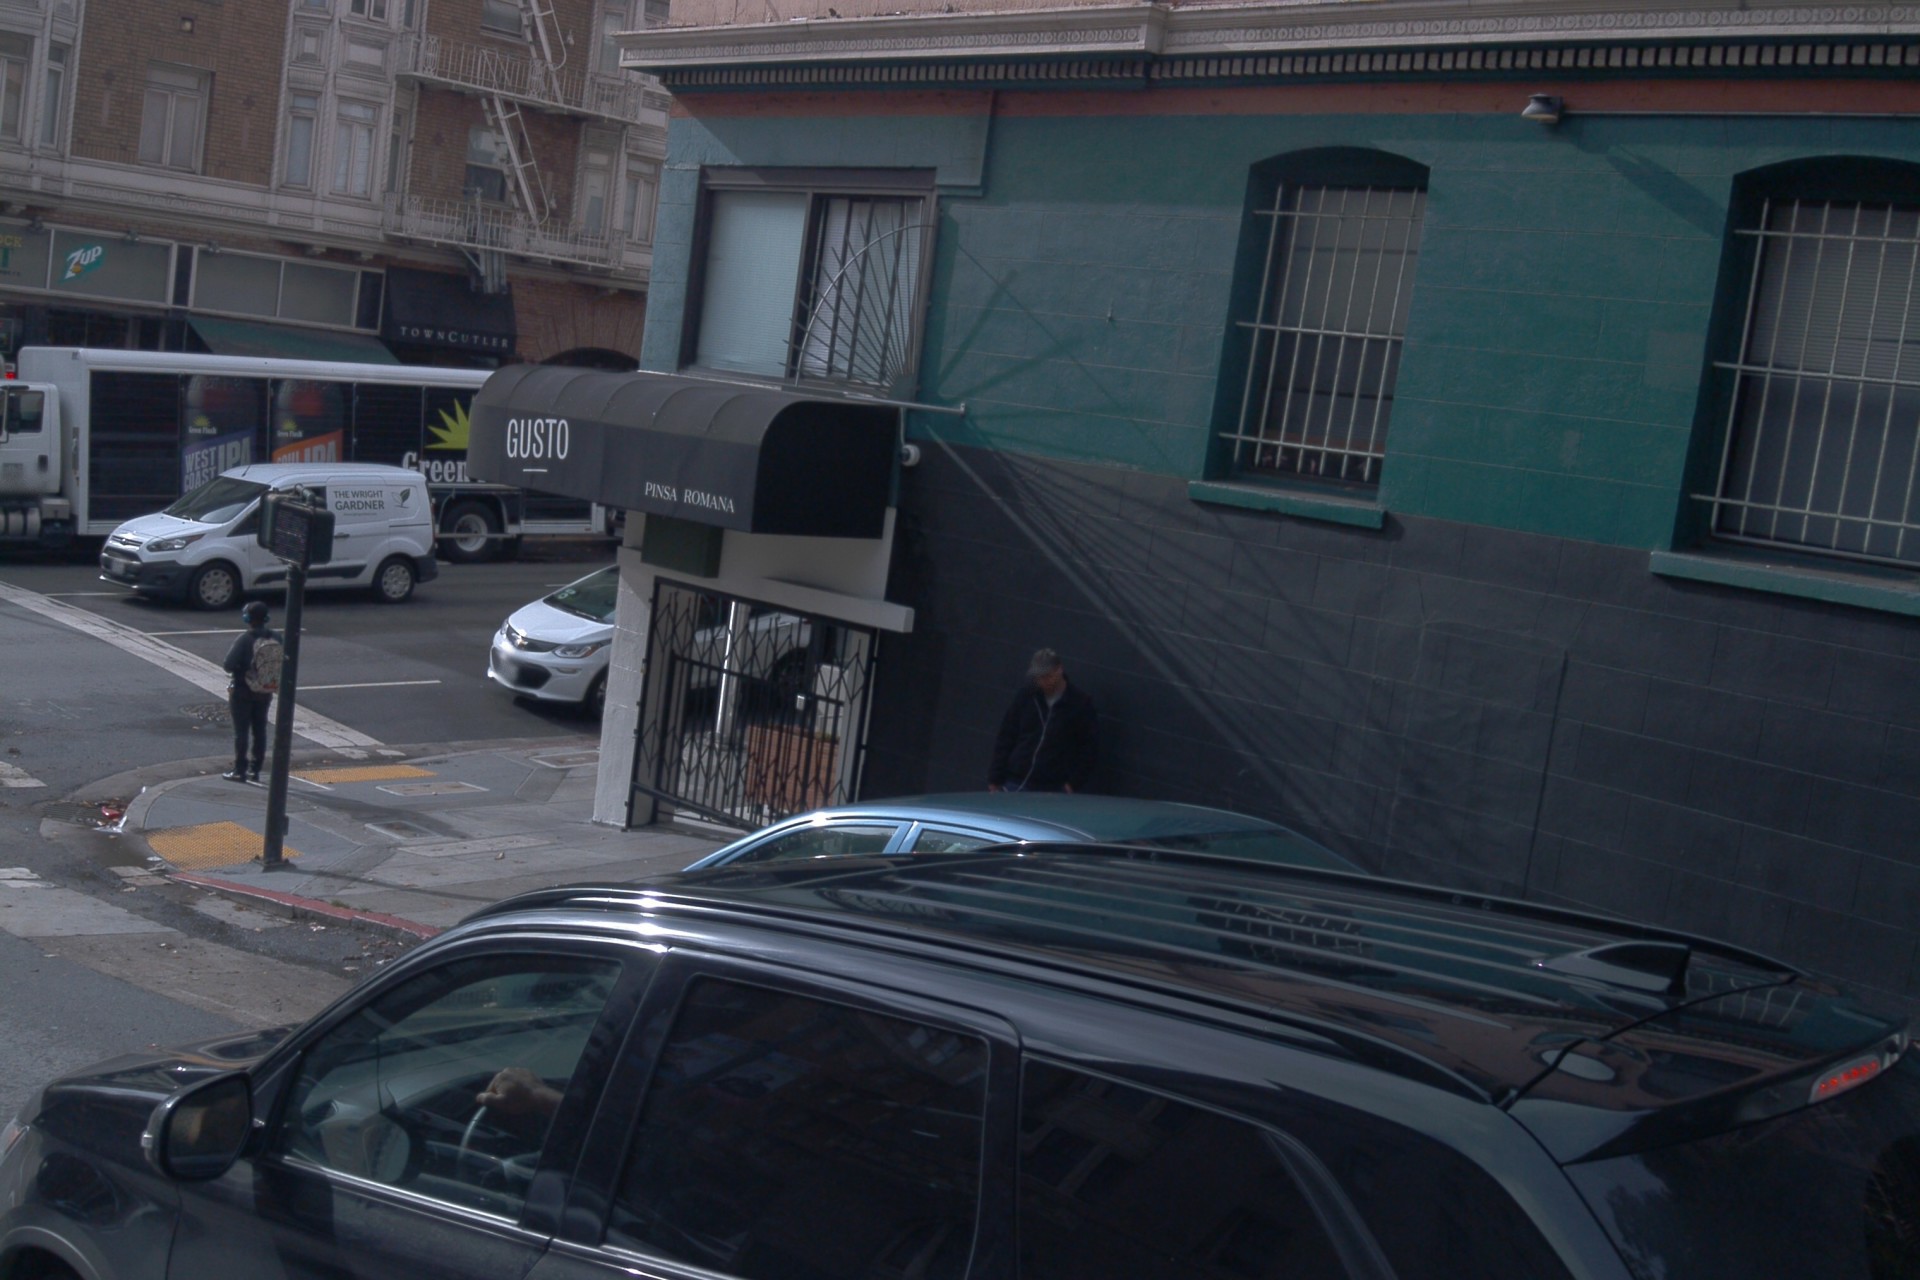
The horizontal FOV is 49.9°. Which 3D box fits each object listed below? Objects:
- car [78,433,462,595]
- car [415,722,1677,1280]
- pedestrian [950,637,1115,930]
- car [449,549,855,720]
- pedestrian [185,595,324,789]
[{"bbox_3d":[-9.049,-1.583,27.352,1.948,1.870,4.458,2,1,40],"label":"car"},{"bbox_3d":[0.061,1.341,7.766,4.523,1.800,2.005,2,1,44],"label":"car"},{"bbox_3d":[0.476,0.889,13.285,0.853,1.800,0.769,1,1,19],"label":"pedestrian"},{"bbox_3d":[-3.464,-0.068,23.789,2.062,1.780,4.279,2,1,42],"label":"car"},{"bbox_3d":[-6.018,0.424,17.590,0.929,1.590,0.750,2,1,43],"label":"pedestrian"}]
